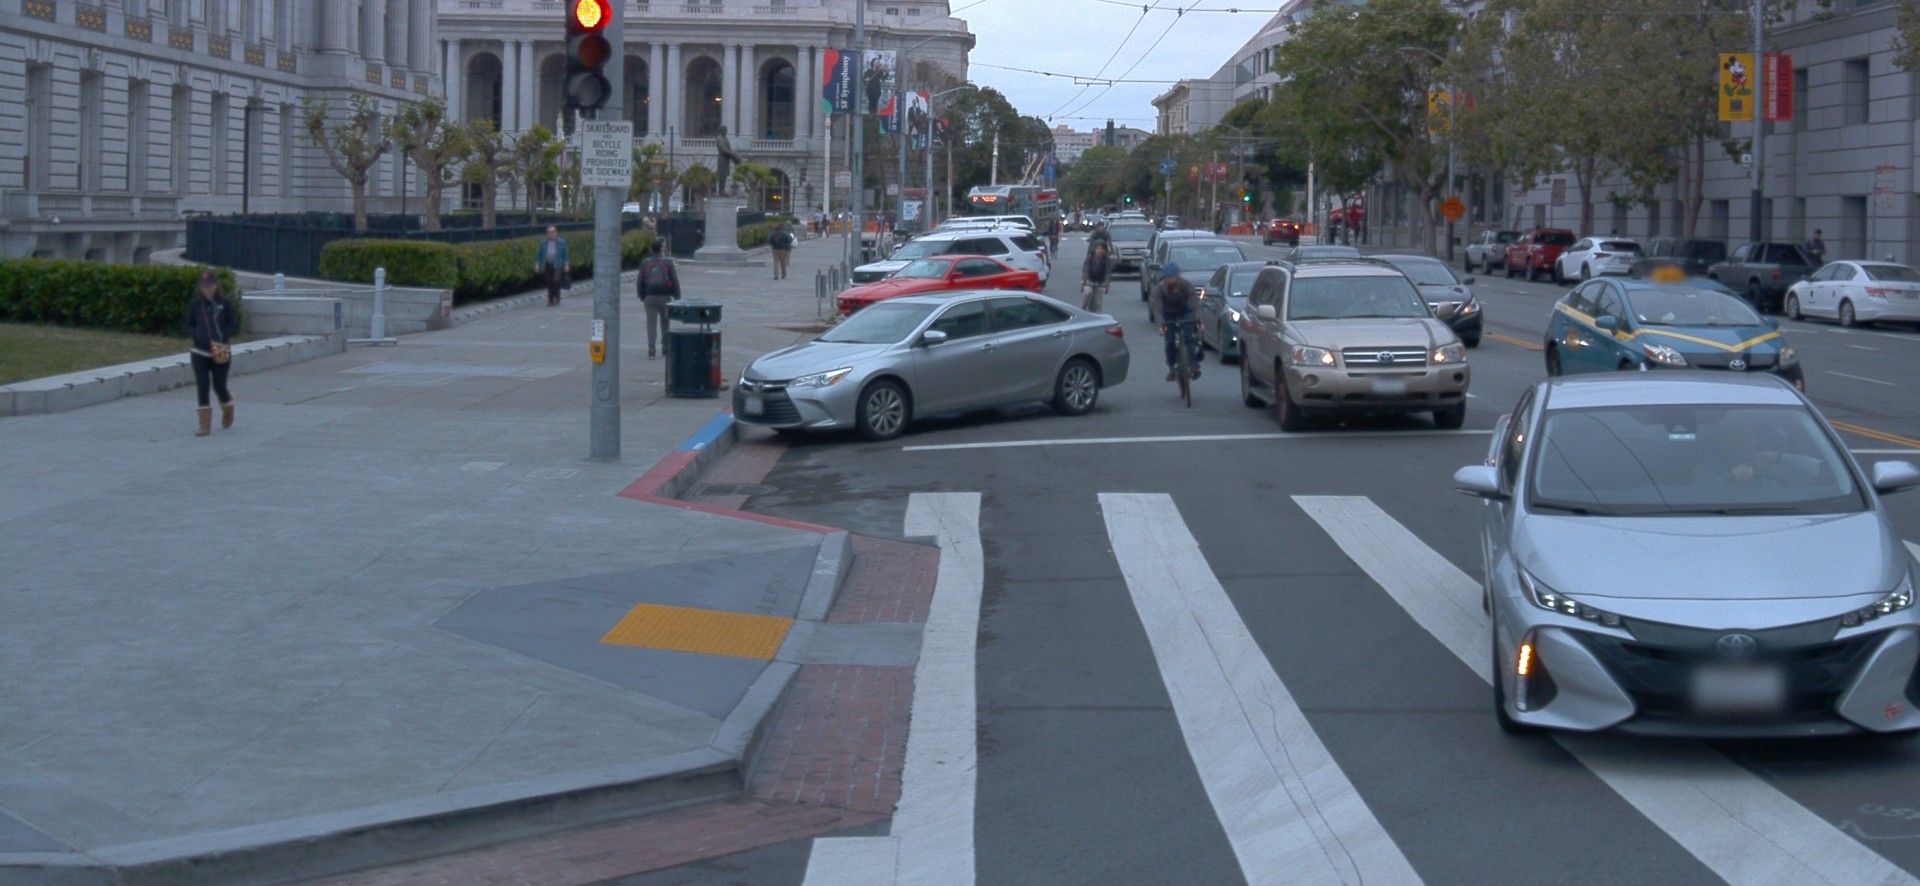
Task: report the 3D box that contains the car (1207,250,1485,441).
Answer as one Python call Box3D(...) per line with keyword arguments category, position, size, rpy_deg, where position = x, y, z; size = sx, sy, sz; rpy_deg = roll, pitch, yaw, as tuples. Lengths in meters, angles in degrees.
Box3D(category="car", position=(4.042, -1.170, 22.416), size=(2.165, 1.792, 4.824), rpy_deg=(0, 5, 1))

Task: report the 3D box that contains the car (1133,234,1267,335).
Box3D(category="car", position=(4.422, -3.032, 38.630), size=(2.094, 1.746, 4.686), rpy_deg=(0, 5, 2))

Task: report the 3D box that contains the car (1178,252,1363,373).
Box3D(category="car", position=(4.605, -2.056, 31.279), size=(2.127, 1.619, 4.847), rpy_deg=(0, 6, 1))

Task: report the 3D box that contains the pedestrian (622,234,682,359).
Box3D(category="pedestrian", position=(-4.621, -2.211, 30.909), size=(0.801, 1.847, 0.879), rpy_deg=(0, 2, -3))

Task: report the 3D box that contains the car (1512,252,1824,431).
Box3D(category="car", position=(7.845, -1.243, 23.280), size=(2.026, 1.779, 4.380), rpy_deg=(0, 5, 0))

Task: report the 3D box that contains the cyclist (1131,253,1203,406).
Box3D(category="cyclist", position=(2.458, -1.391, 24.606), size=(0.744, 1.730, 1.894), rpy_deg=(0, 4, 2))

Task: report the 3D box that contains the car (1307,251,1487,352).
Box3D(category="car", position=(7.169, -2.403, 34.221), size=(2.049, 1.505, 4.592), rpy_deg=(0, 6, 1))

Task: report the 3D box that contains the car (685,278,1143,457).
Box3D(category="car", position=(-0.424, -0.948, 22.978), size=(4.909, 1.660, 2.115), rpy_deg=(-5, 6, -41))

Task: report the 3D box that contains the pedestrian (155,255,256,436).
Box3D(category="pedestrian", position=(-7.237, -0.955, 19.763), size=(0.668, 1.678, 0.873), rpy_deg=(0, 2, -3))

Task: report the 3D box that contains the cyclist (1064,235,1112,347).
Box3D(category="cyclist", position=(2.207, -2.659, 35.626), size=(0.743, 1.865, 1.862), rpy_deg=(0, 4, 1))
